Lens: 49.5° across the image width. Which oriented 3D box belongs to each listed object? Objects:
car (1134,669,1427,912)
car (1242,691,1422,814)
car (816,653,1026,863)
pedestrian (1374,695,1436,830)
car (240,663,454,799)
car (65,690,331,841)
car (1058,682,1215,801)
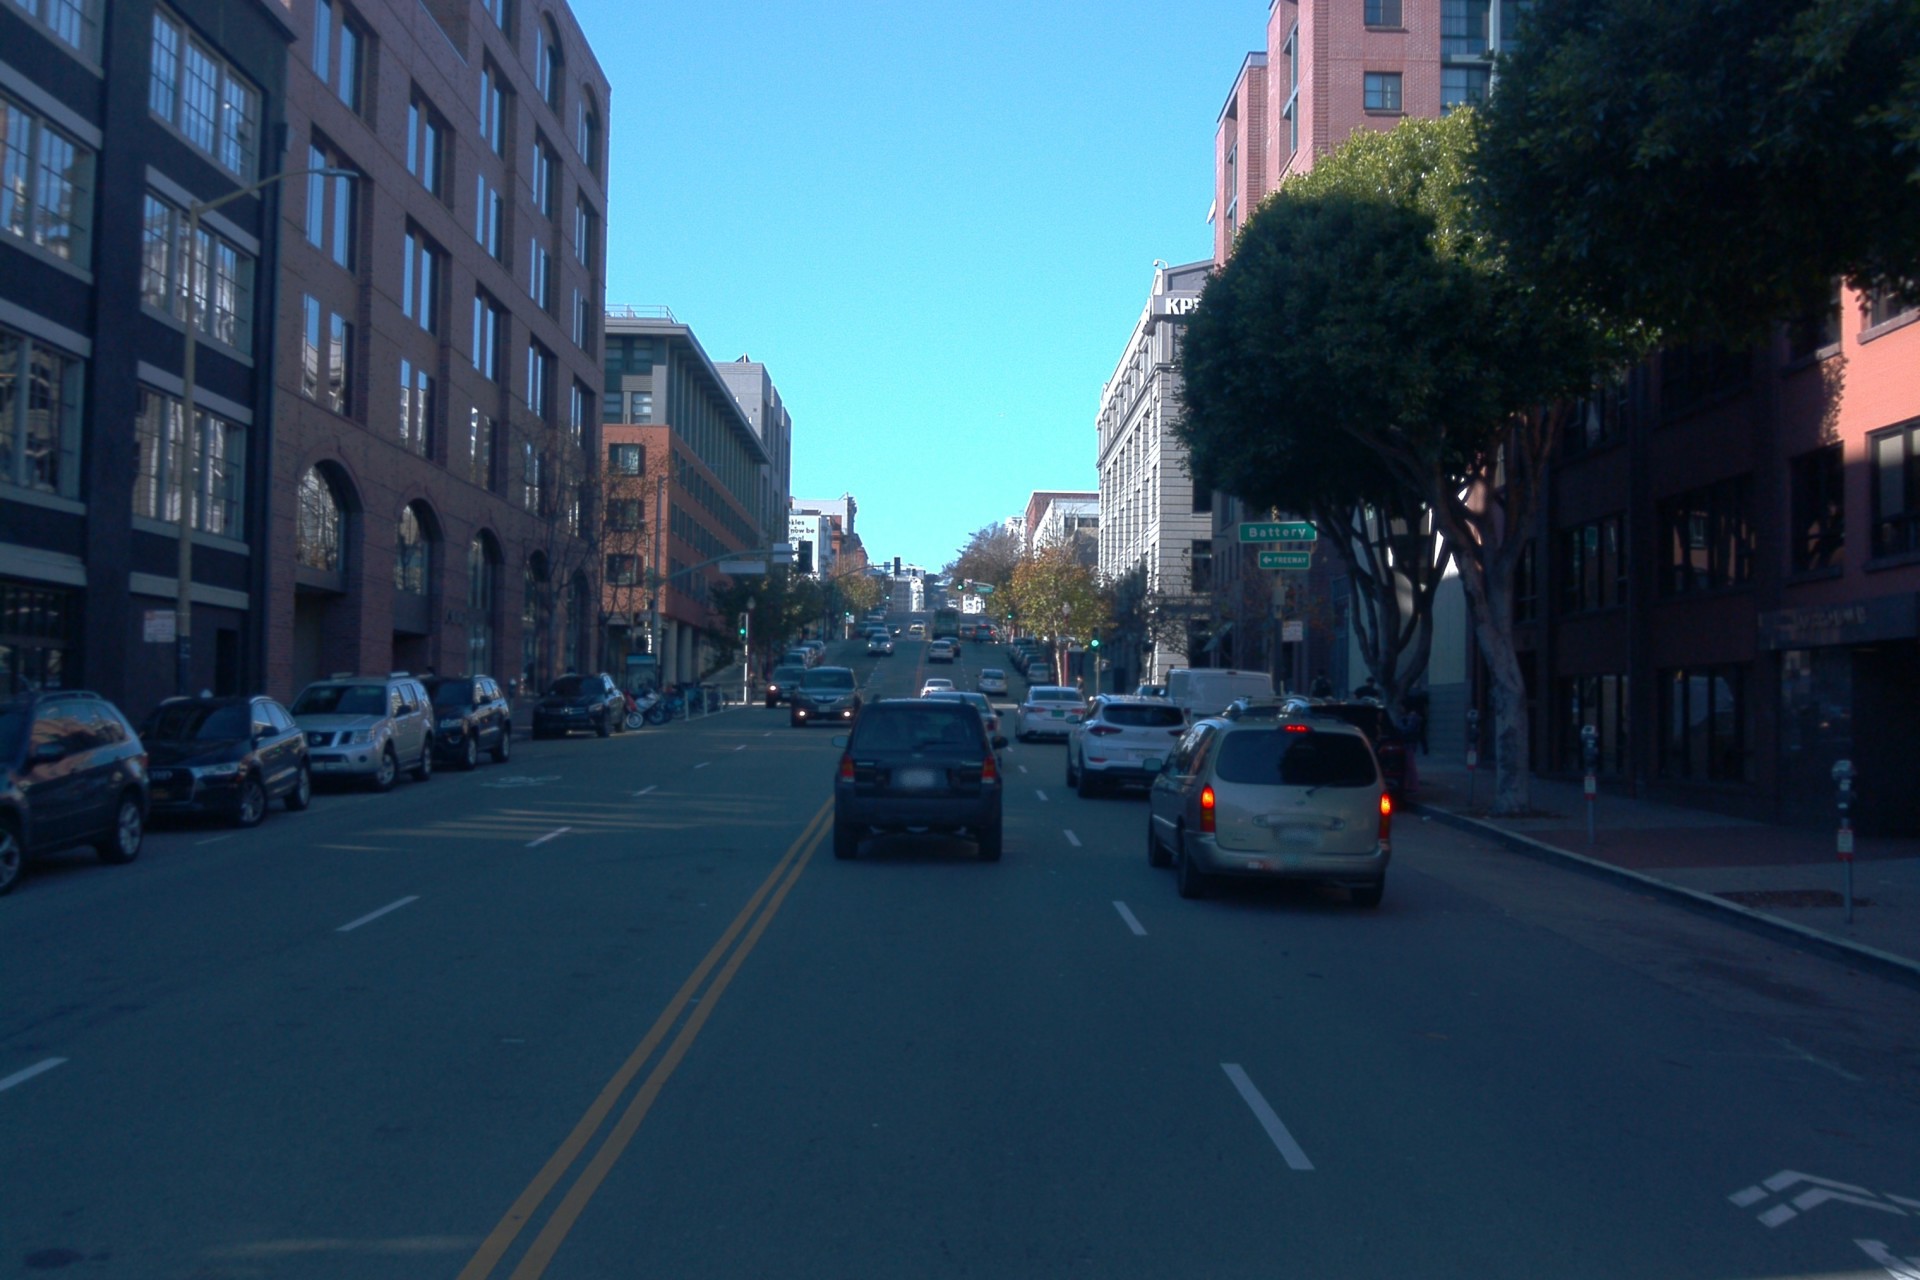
[{"bbox_3d":[2.986,1.372,20.448,2.113,2.070,4.763,1,-2,0],"label":"car"},{"bbox_3d":[6.055,1.801,34.466,2.137,1.860,4.939,1,-2,1],"label":"car"},{"bbox_3d":[-0.401,1.263,23.411,2.096,2.100,4.545,1,-2,0],"label":"car"},{"bbox_3d":[7.357,2.014,34.395,0.680,2.200,0.716,2,-2,-41],"label":"pedestrian"},{"bbox_3d":[-9.739,1.420,33.477,2.137,1.990,4.919,1,-2,-2],"label":"car"},{"bbox_3d":[-9.650,1.541,26.763,2.081,1.740,4.496,1,-2,-5],"label":"car"},{"bbox_3d":[2.820,1.621,34.222,2.088,1.800,4.683,1,-2,-1],"label":"car"}]
